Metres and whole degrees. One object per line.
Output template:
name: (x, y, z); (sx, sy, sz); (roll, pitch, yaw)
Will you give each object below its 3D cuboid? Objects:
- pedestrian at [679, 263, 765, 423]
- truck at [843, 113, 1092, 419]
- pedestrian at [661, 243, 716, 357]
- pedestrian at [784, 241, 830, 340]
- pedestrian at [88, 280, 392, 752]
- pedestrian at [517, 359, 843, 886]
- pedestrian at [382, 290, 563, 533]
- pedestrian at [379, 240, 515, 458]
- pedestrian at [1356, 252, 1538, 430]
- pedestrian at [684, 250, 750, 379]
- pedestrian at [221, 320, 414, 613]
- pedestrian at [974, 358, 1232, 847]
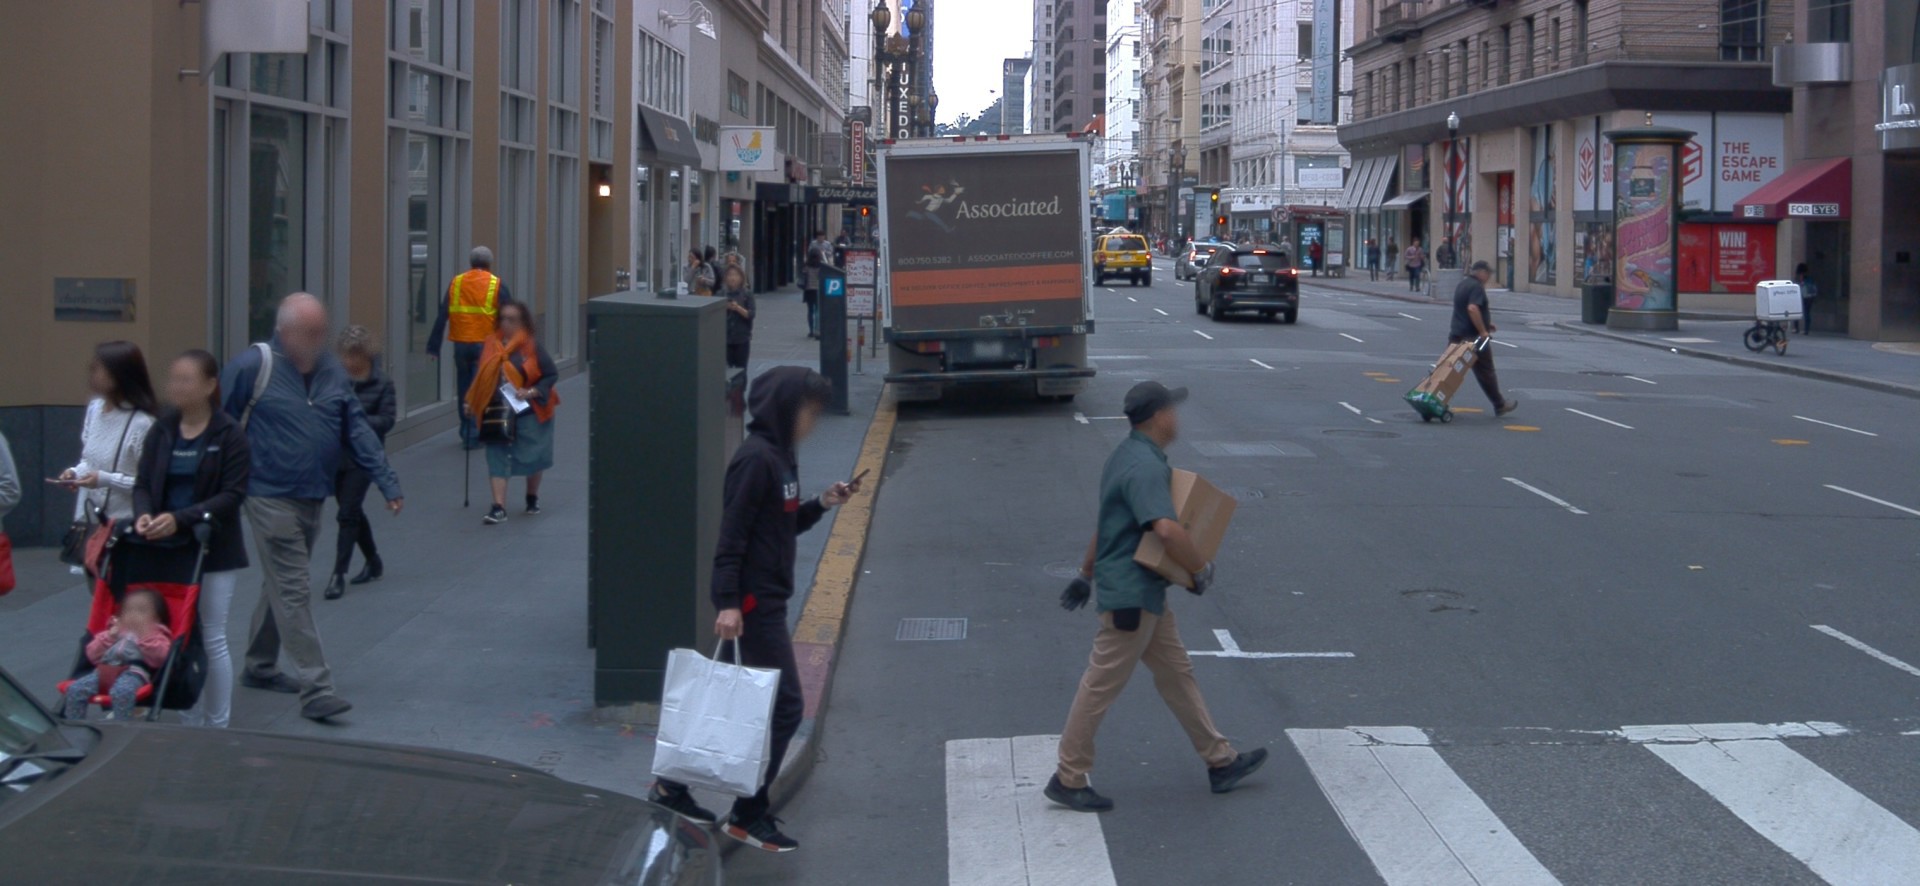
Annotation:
pedestrian: (-2.527, -1.083, 22.054); (0.786, 1.647, 0.873); (0, 2, 2)
truck: (0.071, -2.348, 26.460); (2.784, 3.405, 6.688); (0, 5, 0)
pedestrian: (-4.147, -2.192, 31.583); (0.804, 1.687, 0.747); (0, 2, -10)
pedestrian: (-2.677, -2.685, 36.341); (0.802, 1.687, 0.840); (0, 2, -3)
pedestrian: (-3.051, 0.245, 8.805); (0.873, 1.837, 0.849); (1, 2, 31)
pedestrian: (-0.948, 0.608, 7.288); (0.961, 1.737, 0.961); (0, 2, 4)
pedestrian: (-3.377, -0.250, 14.426); (0.986, 1.597, 0.986); (0, 2, 3)
pedestrian: (-4.574, -0.868, 18.540); (0.986, 1.877, 0.986); (0, 2, -2)
pedestrian: (5.558, -1.206, 23.654); (1.745, 1.926, 1.056); (-2, 3, -27)
pedestrian: (-3.300, -1.760, 28.145); (0.774, 1.717, 0.927); (0, 2, 1)
pedestrian: (-3.553, 0.095, 11.497); (0.635, 1.507, 0.864); (1, 2, 18)
pedestrian: (0.536, 0.562, 7.966); (0.931, 1.707, 0.902); (0, 2, 2)
